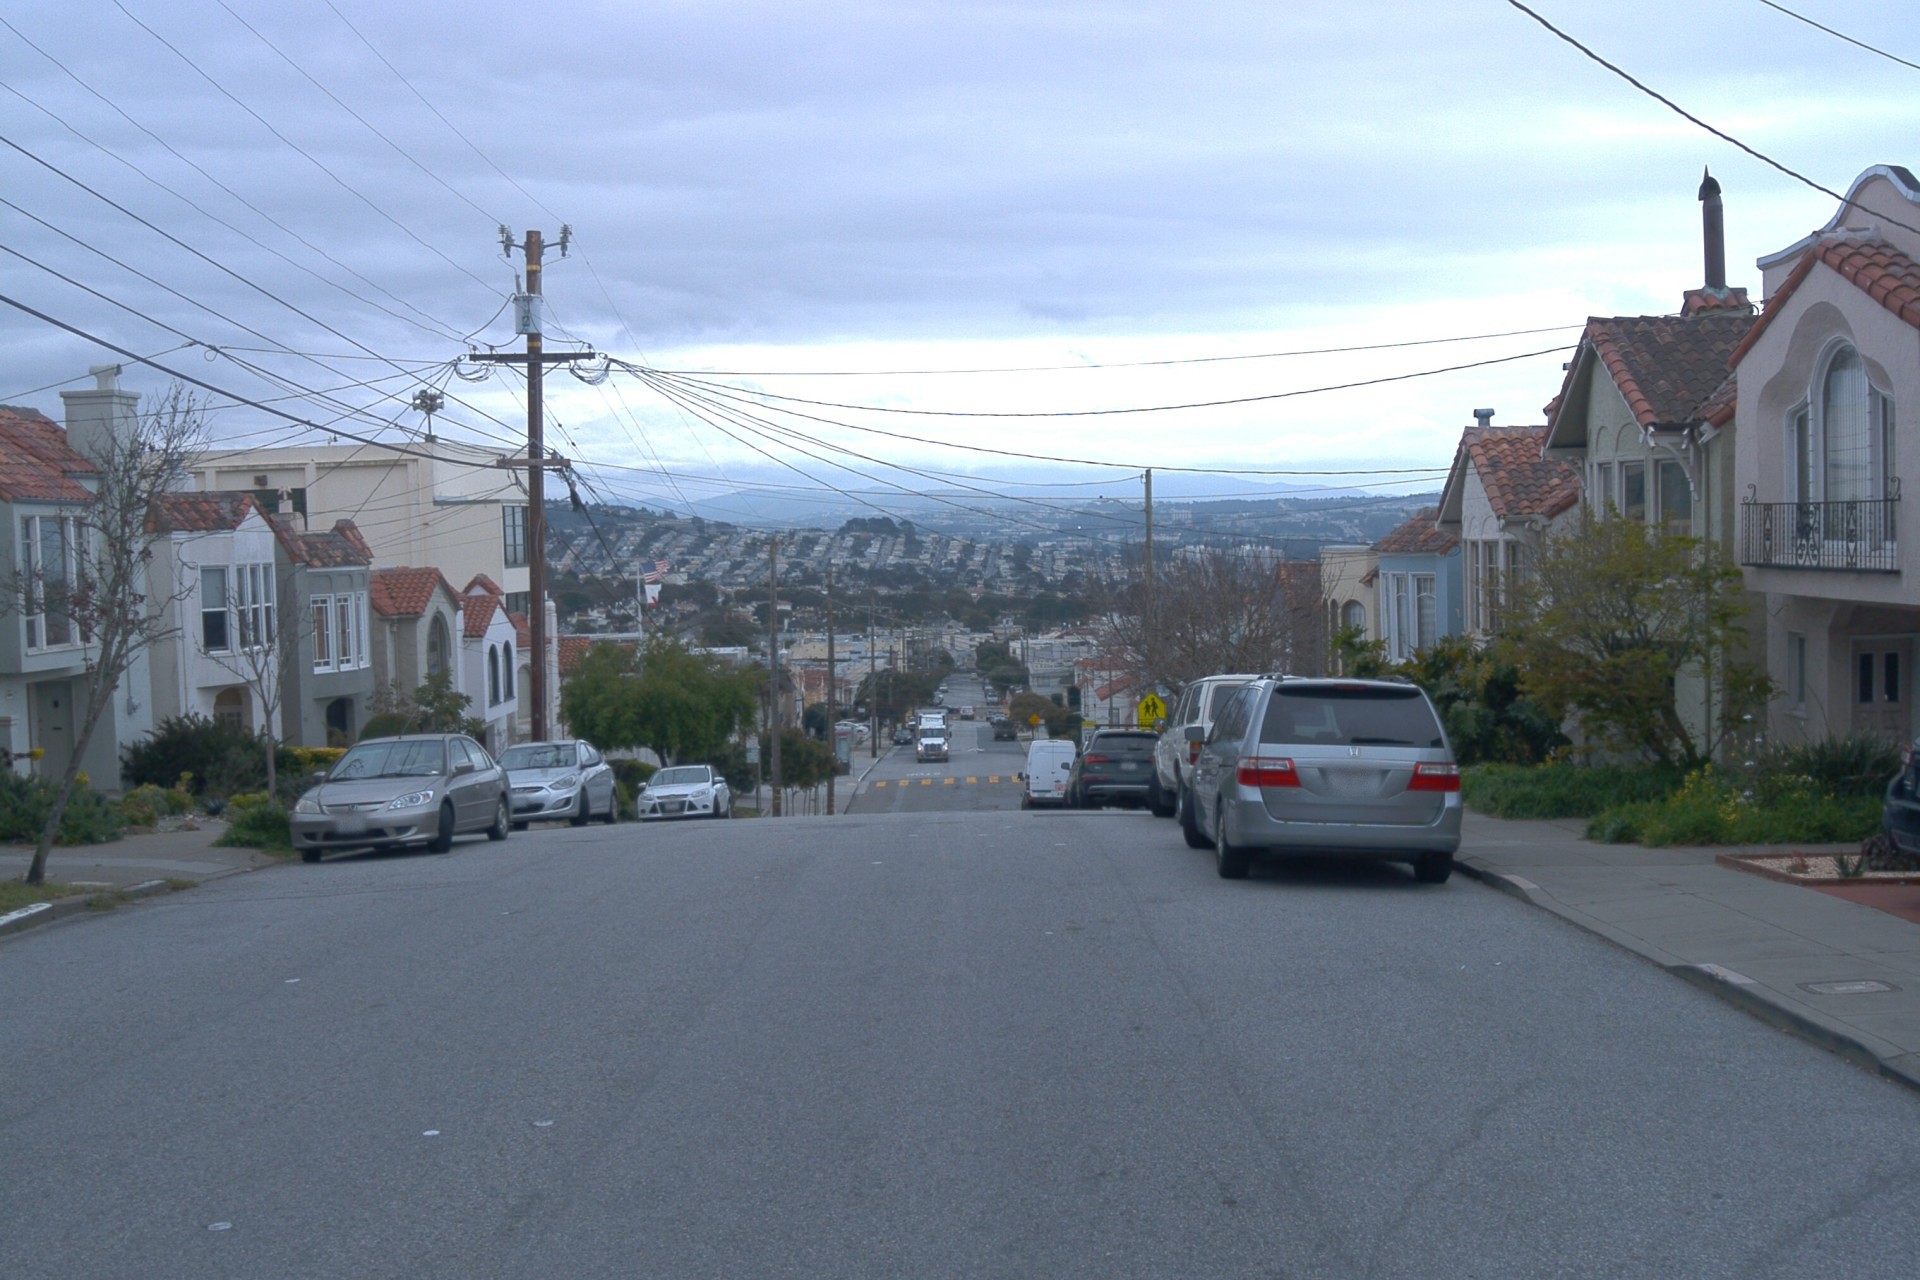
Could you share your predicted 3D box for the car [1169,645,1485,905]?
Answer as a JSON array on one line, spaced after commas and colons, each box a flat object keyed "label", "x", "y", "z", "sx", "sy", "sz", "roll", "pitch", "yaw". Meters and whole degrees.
[{"label": "car", "x": 3.193, "y": 1.082, "z": 19.028, "sx": 2.082, "sy": 2.060, "sz": 5.186, "roll": 0, "pitch": 0, "yaw": 1}]

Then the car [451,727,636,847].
[{"label": "car", "x": -6.627, "y": 2.316, "z": 33.272, "sx": 2.061, "sy": 1.630, "sz": 4.232, "roll": 0, "pitch": 0, "yaw": 1}]

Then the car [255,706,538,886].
[{"label": "car", "x": -6.594, "y": 1.769, "z": 24.670, "sx": 2.152, "sy": 1.800, "sz": 4.566, "roll": 0, "pitch": 0, "yaw": 0}]

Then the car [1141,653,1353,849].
[{"label": "car", "x": 3.427, "y": 1.255, "z": 25.438, "sx": 1.936, "sy": 2.170, "sz": 4.666, "roll": 0, "pitch": 0, "yaw": -1}]
